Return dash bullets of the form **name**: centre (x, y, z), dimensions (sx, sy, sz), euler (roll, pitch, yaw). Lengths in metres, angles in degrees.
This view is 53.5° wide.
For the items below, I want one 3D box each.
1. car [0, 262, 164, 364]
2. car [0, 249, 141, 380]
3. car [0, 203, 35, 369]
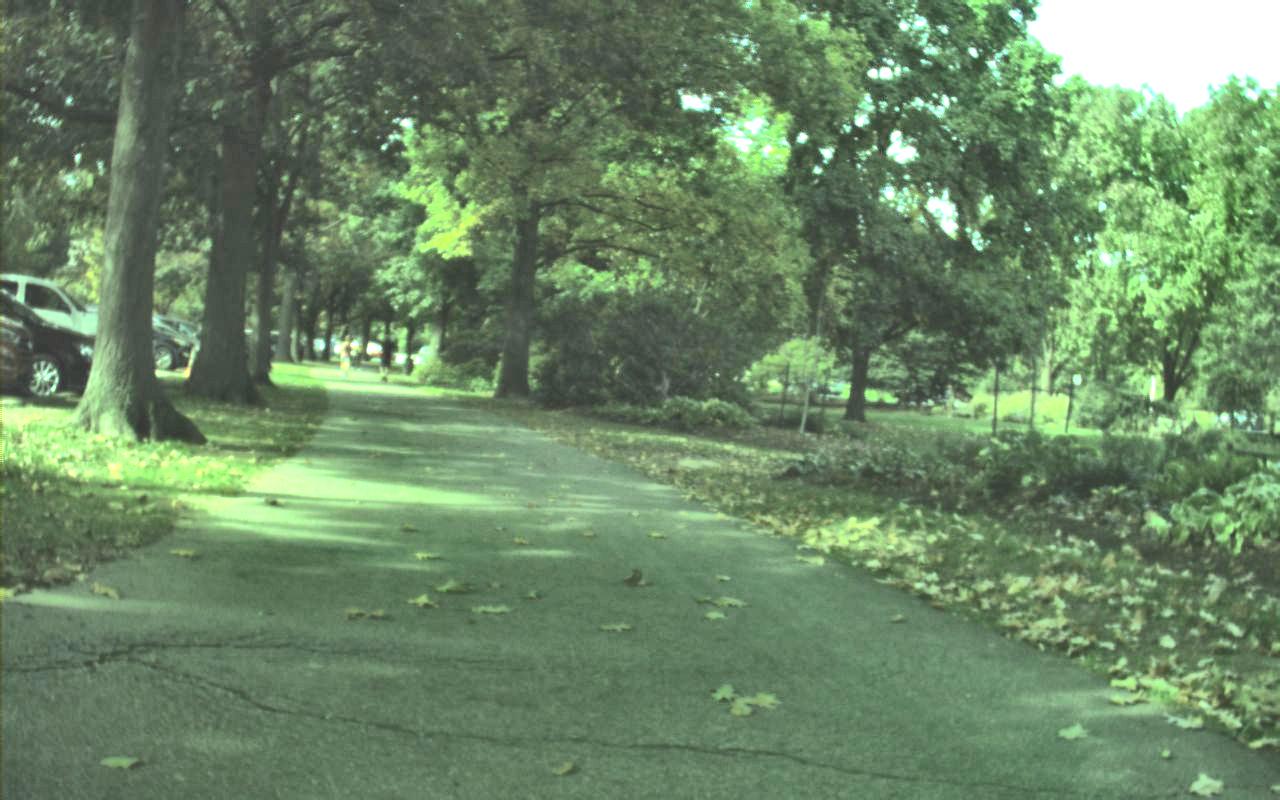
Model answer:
- **car**: centre (-10.670, -1.452, 20.064), dimensions (4.561, 1.709, 1.995), euler (0, 1, -15)
- **car**: centre (-9.222, -1.086, 15.537), dimensions (4.367, 1.647, 1.935), euler (0, 1, 2)
- **car**: centre (-9.084, -1.150, 11.785), dimensions (4.560, 1.690, 1.973), euler (0, 1, -20)
